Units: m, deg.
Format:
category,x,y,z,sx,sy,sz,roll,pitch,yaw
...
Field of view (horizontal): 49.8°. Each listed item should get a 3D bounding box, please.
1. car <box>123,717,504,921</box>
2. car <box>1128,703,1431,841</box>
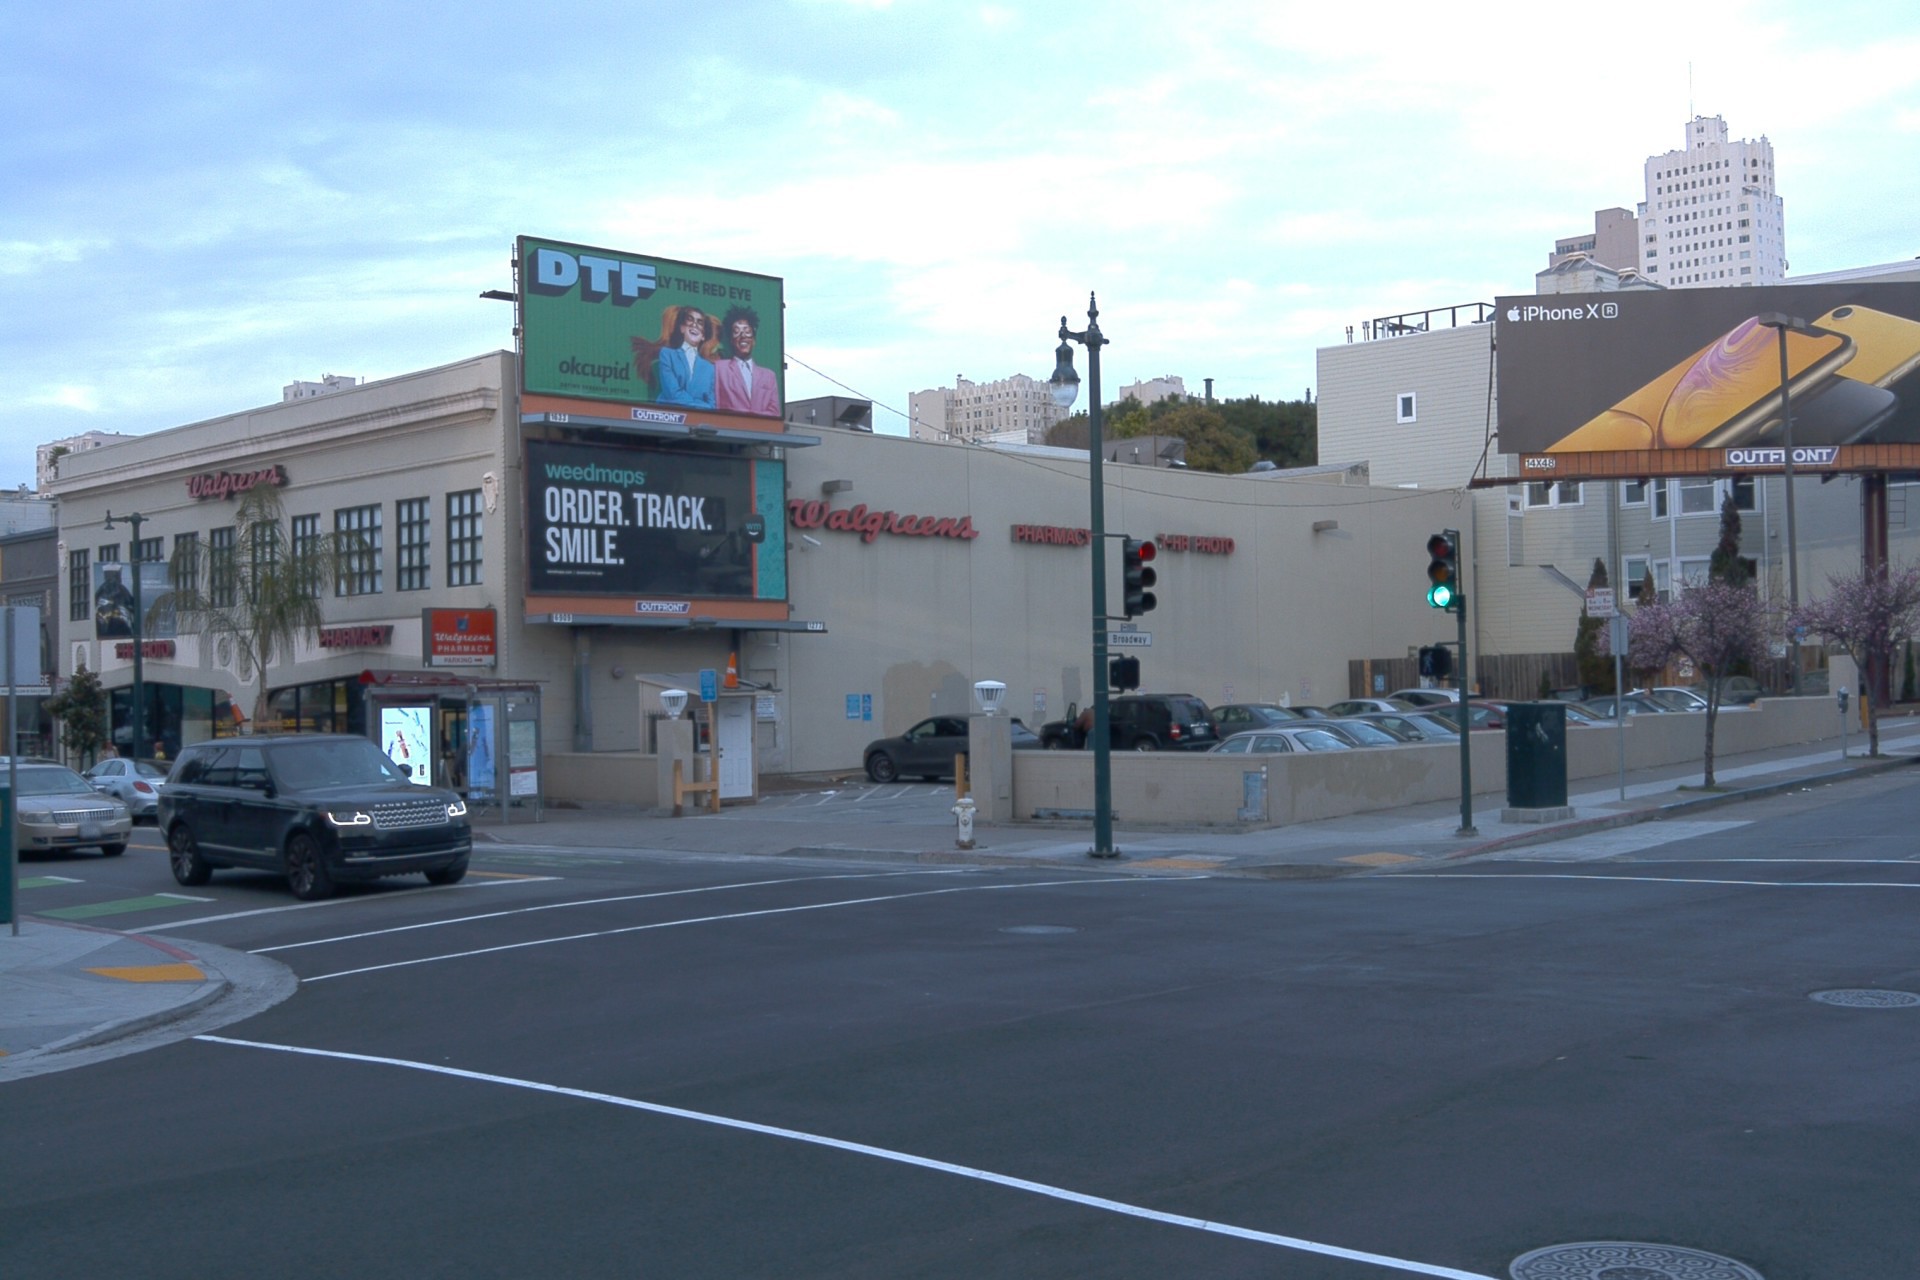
category,x,y,z,sx,sy,sz,roll,pitch,yaw
car,-7.856,2.019,24.798,2.225,1.890,5.170,0,1,-45
car,5.335,2.153,34.952,4.622,1.949,2.162,2,1,44
